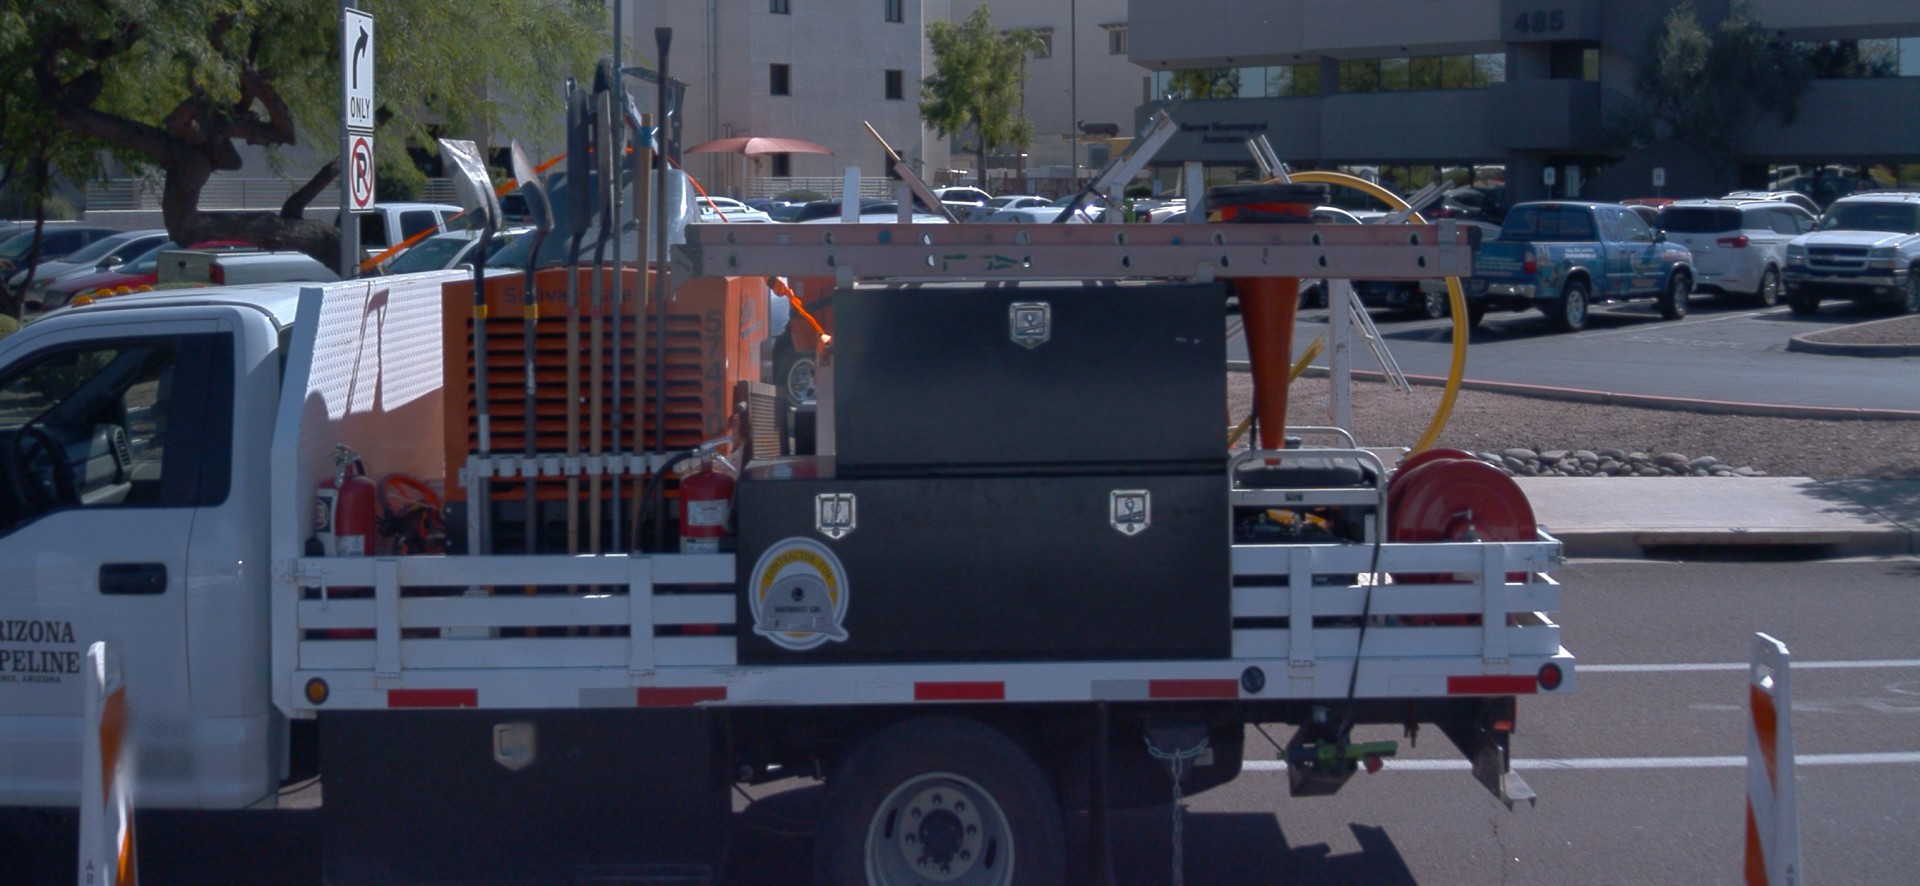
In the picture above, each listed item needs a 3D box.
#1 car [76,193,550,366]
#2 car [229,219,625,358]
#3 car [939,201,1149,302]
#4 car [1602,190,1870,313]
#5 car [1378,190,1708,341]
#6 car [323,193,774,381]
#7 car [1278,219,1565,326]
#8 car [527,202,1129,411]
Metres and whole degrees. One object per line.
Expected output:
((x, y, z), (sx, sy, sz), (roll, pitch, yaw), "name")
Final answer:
((-9.094, -2.404, 29.579), (2.433, 2.214, 6.048), (3, 6, 45), "car")
((-7.067, -2.133, 27.789), (2.237, 1.695, 4.672), (4, 6, 44), "car")
((1.615, -3.616, 38.912), (3.736, 1.786, 1.875), (-4, 5, -43), "car")
((13.260, -3.270, 35.176), (5.398, 1.925, 2.170), (-5, 6, -44), "car")
((8.656, -2.647, 30.380), (2.167, 2.015, 5.788), (3, 6, 44), "car")
((-5.024, -2.015, 25.846), (2.288, 2.105, 5.125), (3, 6, 44), "car")
((7.381, -2.741, 32.804), (5.007, 1.565, 2.019), (-5, 6, -44), "car")
((-1.202, -1.560, 21.963), (2.538, 1.894, 6.325), (4, 6, 44), "car")
